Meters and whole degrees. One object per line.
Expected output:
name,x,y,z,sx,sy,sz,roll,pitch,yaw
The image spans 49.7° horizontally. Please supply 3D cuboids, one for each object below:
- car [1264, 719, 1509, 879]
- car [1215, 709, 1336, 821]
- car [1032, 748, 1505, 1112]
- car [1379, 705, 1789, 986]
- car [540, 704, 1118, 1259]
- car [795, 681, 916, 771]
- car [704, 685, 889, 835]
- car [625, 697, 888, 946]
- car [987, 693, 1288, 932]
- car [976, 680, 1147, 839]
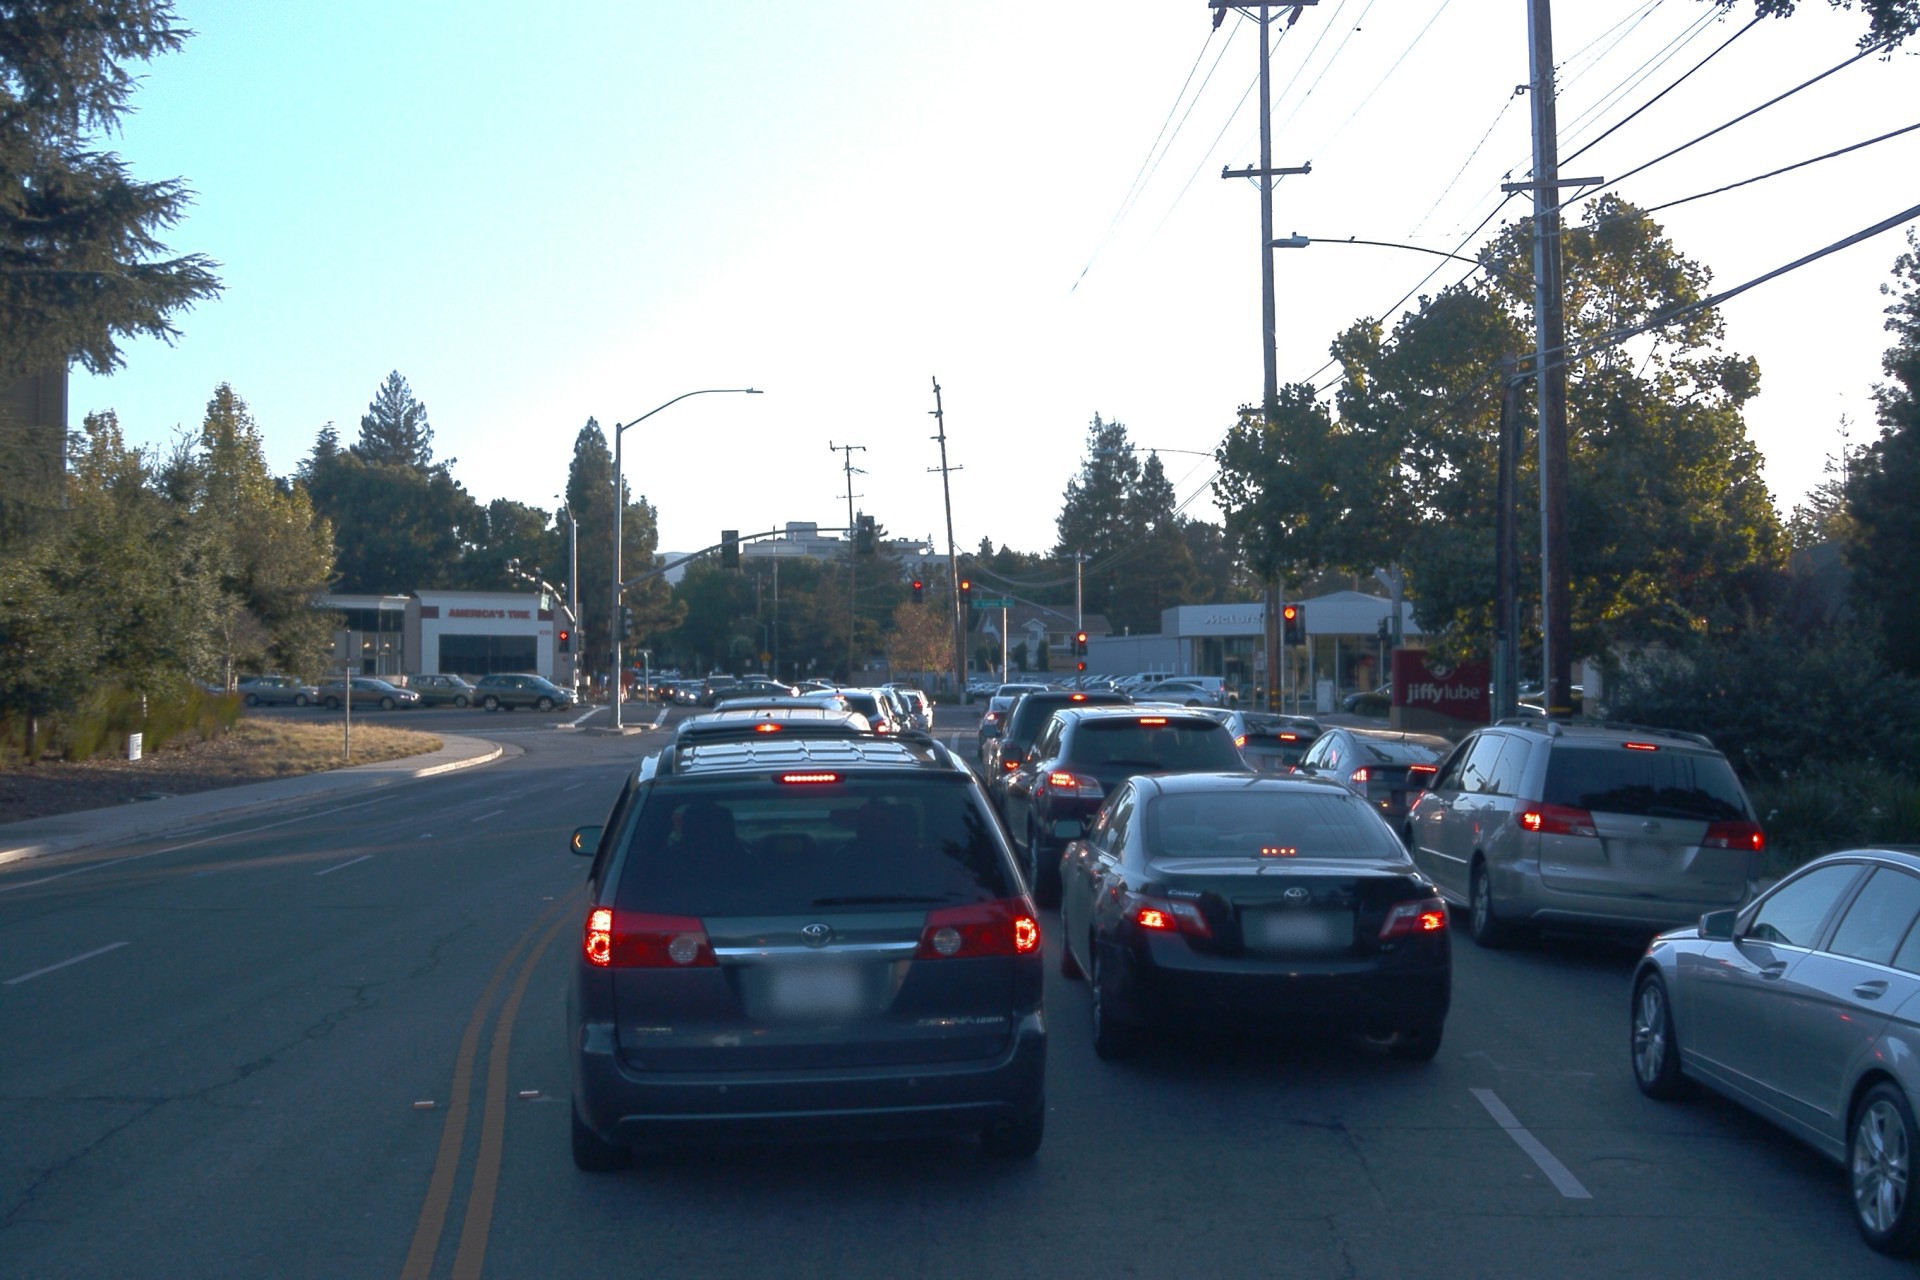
car,4.676,1.710,23.272,1.785,1.510,4.026,0,0,-2
car,4.670,1.823,30.934,1.418,1.490,3.138,0,0,2
car,1.529,1.478,11.982,1.915,1.490,4.528,0,0,-2
car,4.903,1.524,17.100,2.061,1.850,4.903,0,0,2
car,-0.874,1.304,10.231,2.102,1.830,5.461,0,0,-9
car,-1.660,1.372,33.817,1.709,1.350,3.337,0,0,2
car,-1.862,1.360,24.684,1.760,1.570,3.956,0,0,2
car,-1.473,1.305,16.298,1.812,1.620,4.042,0,0,-2
car,1.458,1.436,18.827,1.992,1.810,4.553,0,0,-5
car,1.186,1.417,25.823,1.759,1.770,3.957,0,0,-3
